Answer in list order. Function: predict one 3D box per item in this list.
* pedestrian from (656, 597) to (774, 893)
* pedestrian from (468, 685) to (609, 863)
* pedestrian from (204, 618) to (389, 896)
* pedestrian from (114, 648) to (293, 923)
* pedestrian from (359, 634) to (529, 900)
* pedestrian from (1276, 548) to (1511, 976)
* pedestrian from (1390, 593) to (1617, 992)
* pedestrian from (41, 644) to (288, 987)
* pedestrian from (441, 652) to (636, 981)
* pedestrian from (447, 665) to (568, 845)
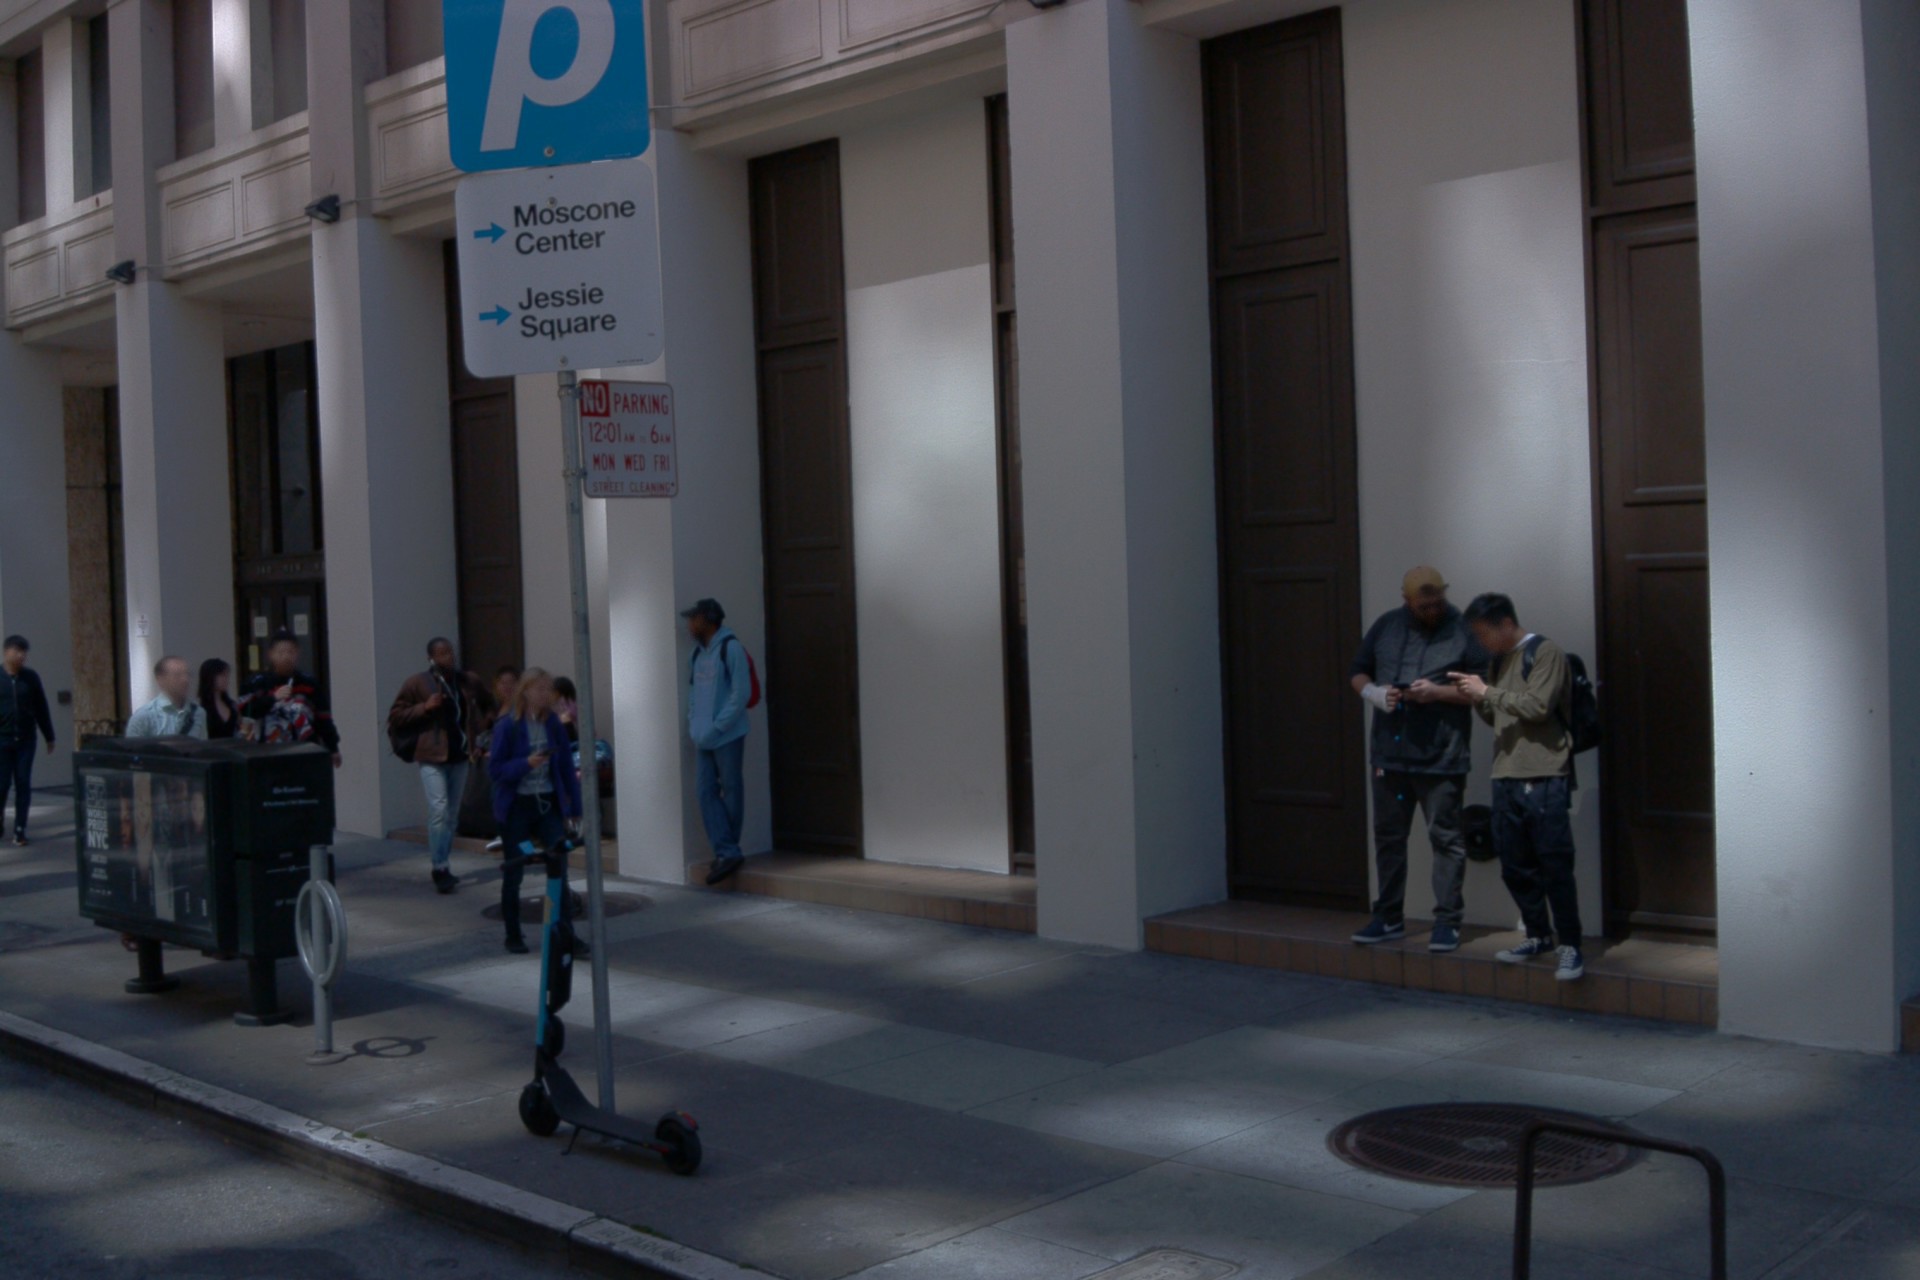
[{"bbox_3d":[-1.620,0.671,13.604,0.541,1.903,0.550,0,0,43],"label":"pedestrian"},{"bbox_3d":[-3.140,0.987,15.377,0.959,1.270,0.642,0,0,-4],"label":"pedestrian"},{"bbox_3d":[-4.778,0.798,14.807,0.889,1.906,1.037,0,0,-45],"label":"pedestrian"},{"bbox_3d":[-5.239,0.964,14.235,0.998,1.806,0.777,0,0,42],"label":"pedestrian"},{"bbox_3d":[-3.552,0.832,14.126,0.858,1.736,0.947,0,0,-34],"label":"pedestrian"},{"bbox_3d":[2.097,0.550,9.933,0.774,1.953,0.848,0,0,43],"label":"pedestrian"},{"bbox_3d":[2.519,0.660,9.518,0.701,1.744,0.827,0,0,43],"label":"pedestrian"},{"bbox_3d":[-4.608,0.956,11.899,1.192,1.846,0.893,0,0,42],"label":"pedestrian"},{"bbox_3d":[-2.371,0.941,11.537,0.735,1.736,0.899,0,0,-39],"label":"pedestrian"},{"bbox_3d":[-3.502,0.865,15.898,0.605,1.328,0.752,0,0,-44],"label":"pedestrian"}]
